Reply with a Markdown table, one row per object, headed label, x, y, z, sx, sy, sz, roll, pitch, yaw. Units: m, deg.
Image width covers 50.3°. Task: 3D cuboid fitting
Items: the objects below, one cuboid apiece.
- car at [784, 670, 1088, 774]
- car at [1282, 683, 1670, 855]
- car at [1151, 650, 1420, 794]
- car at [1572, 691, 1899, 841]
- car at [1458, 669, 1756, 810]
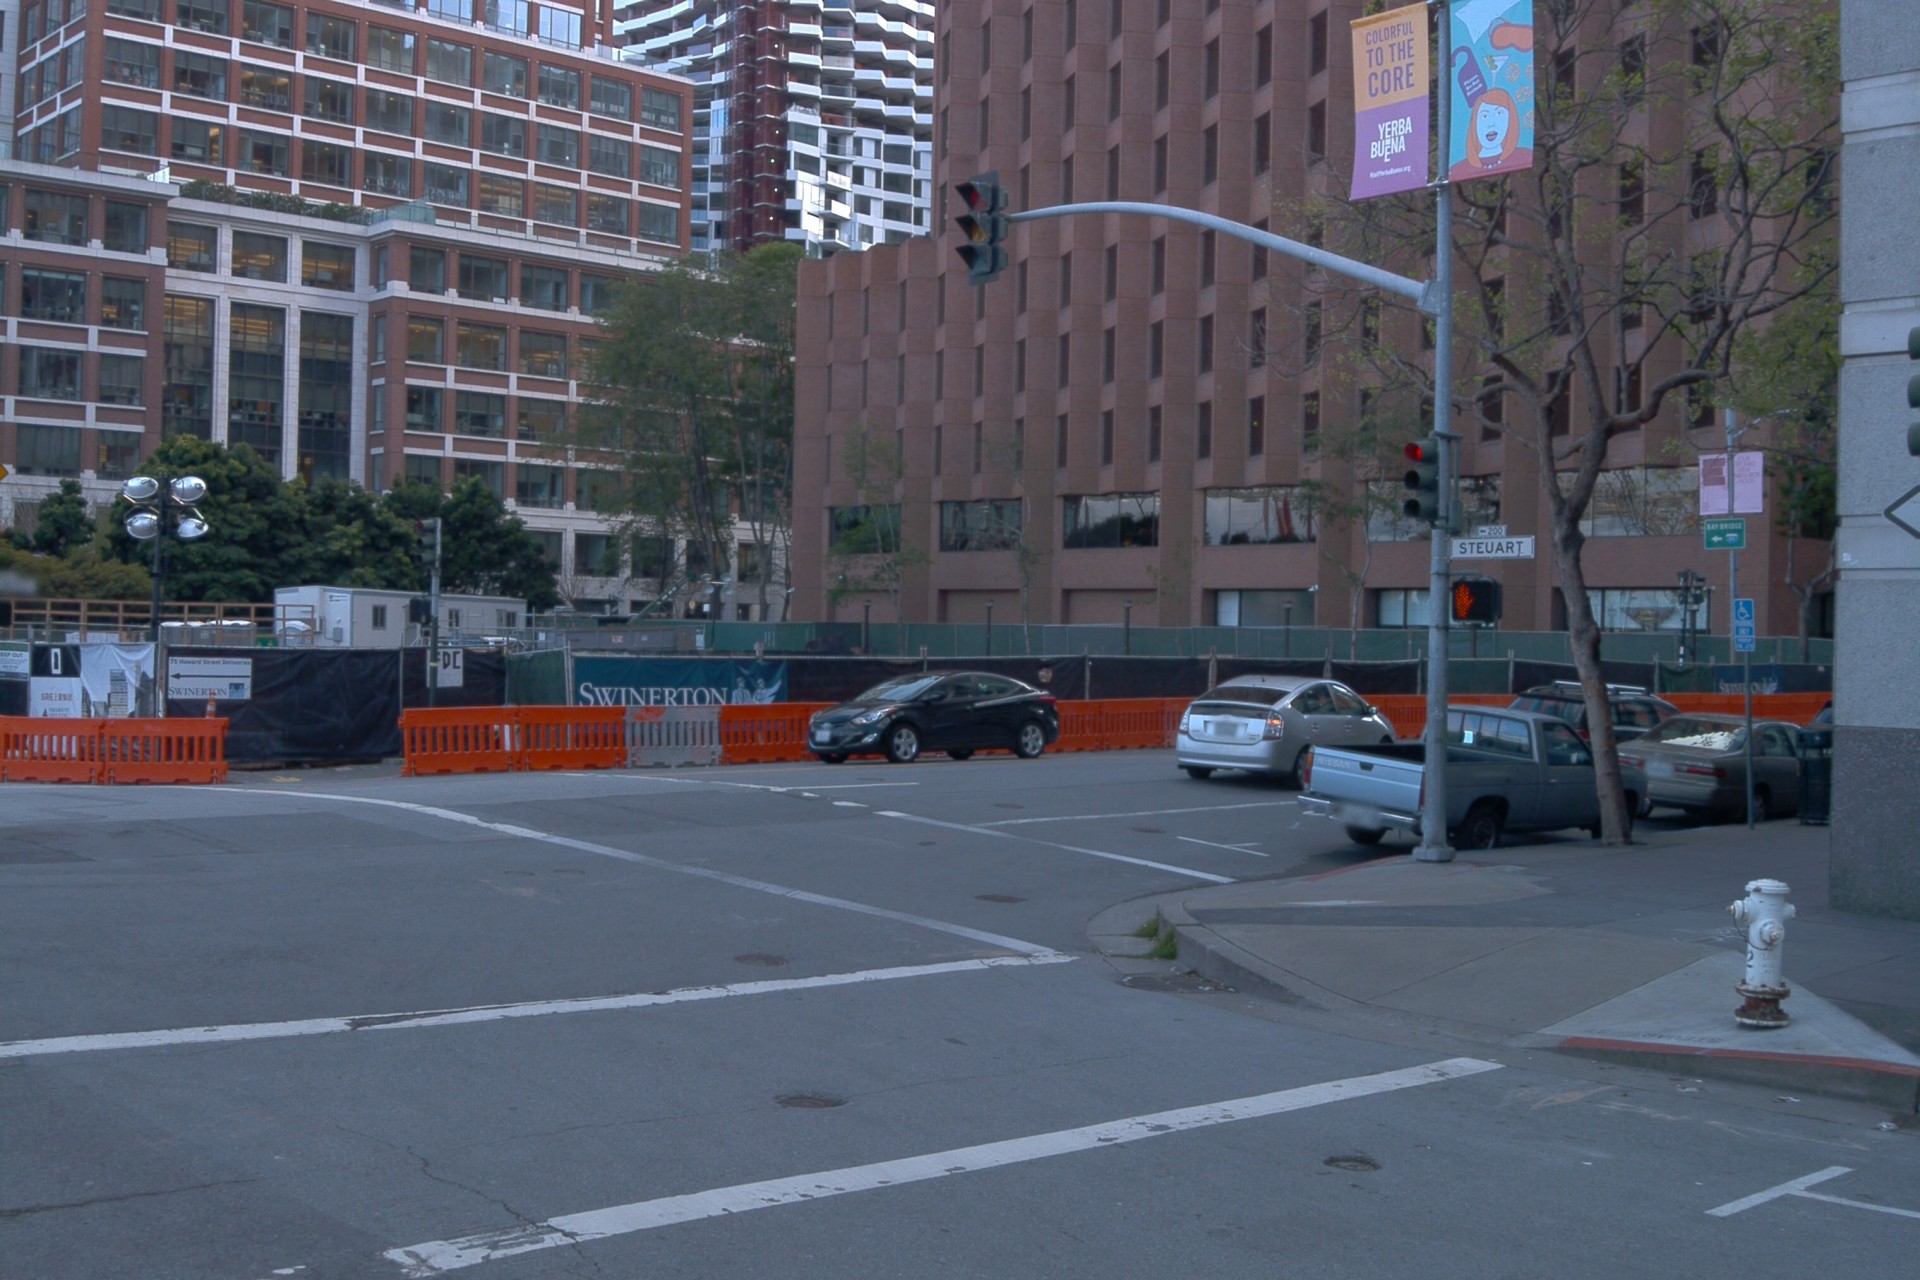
| label | x | y | z | sx | sy | sz | roll | pitch | yaw |
| --- | --- | --- | --- | --- | --- | --- | --- | --- | --- |
| car | -0.314 | 1.213 | 31.869 | 4.607 | 1.430 | 1.996 | 0 | 0 | -44 |
| car | 5.760 | 1.322 | 22.508 | 4.672 | 1.610 | 1.863 | 0 | 0 | -42 |
| car | 4.671 | 1.072 | 28.844 | 2.019 | 1.820 | 4.420 | 1 | 0 | 34 |
| car | 10.147 | 1.552 | 26.595 | 4.581 | 1.660 | 2.108 | 0 | 0 | -42 |
| car | 9.111 | 1.323 | 28.692 | 4.208 | 1.760 | 2.035 | 0 | 0 | -40 |
